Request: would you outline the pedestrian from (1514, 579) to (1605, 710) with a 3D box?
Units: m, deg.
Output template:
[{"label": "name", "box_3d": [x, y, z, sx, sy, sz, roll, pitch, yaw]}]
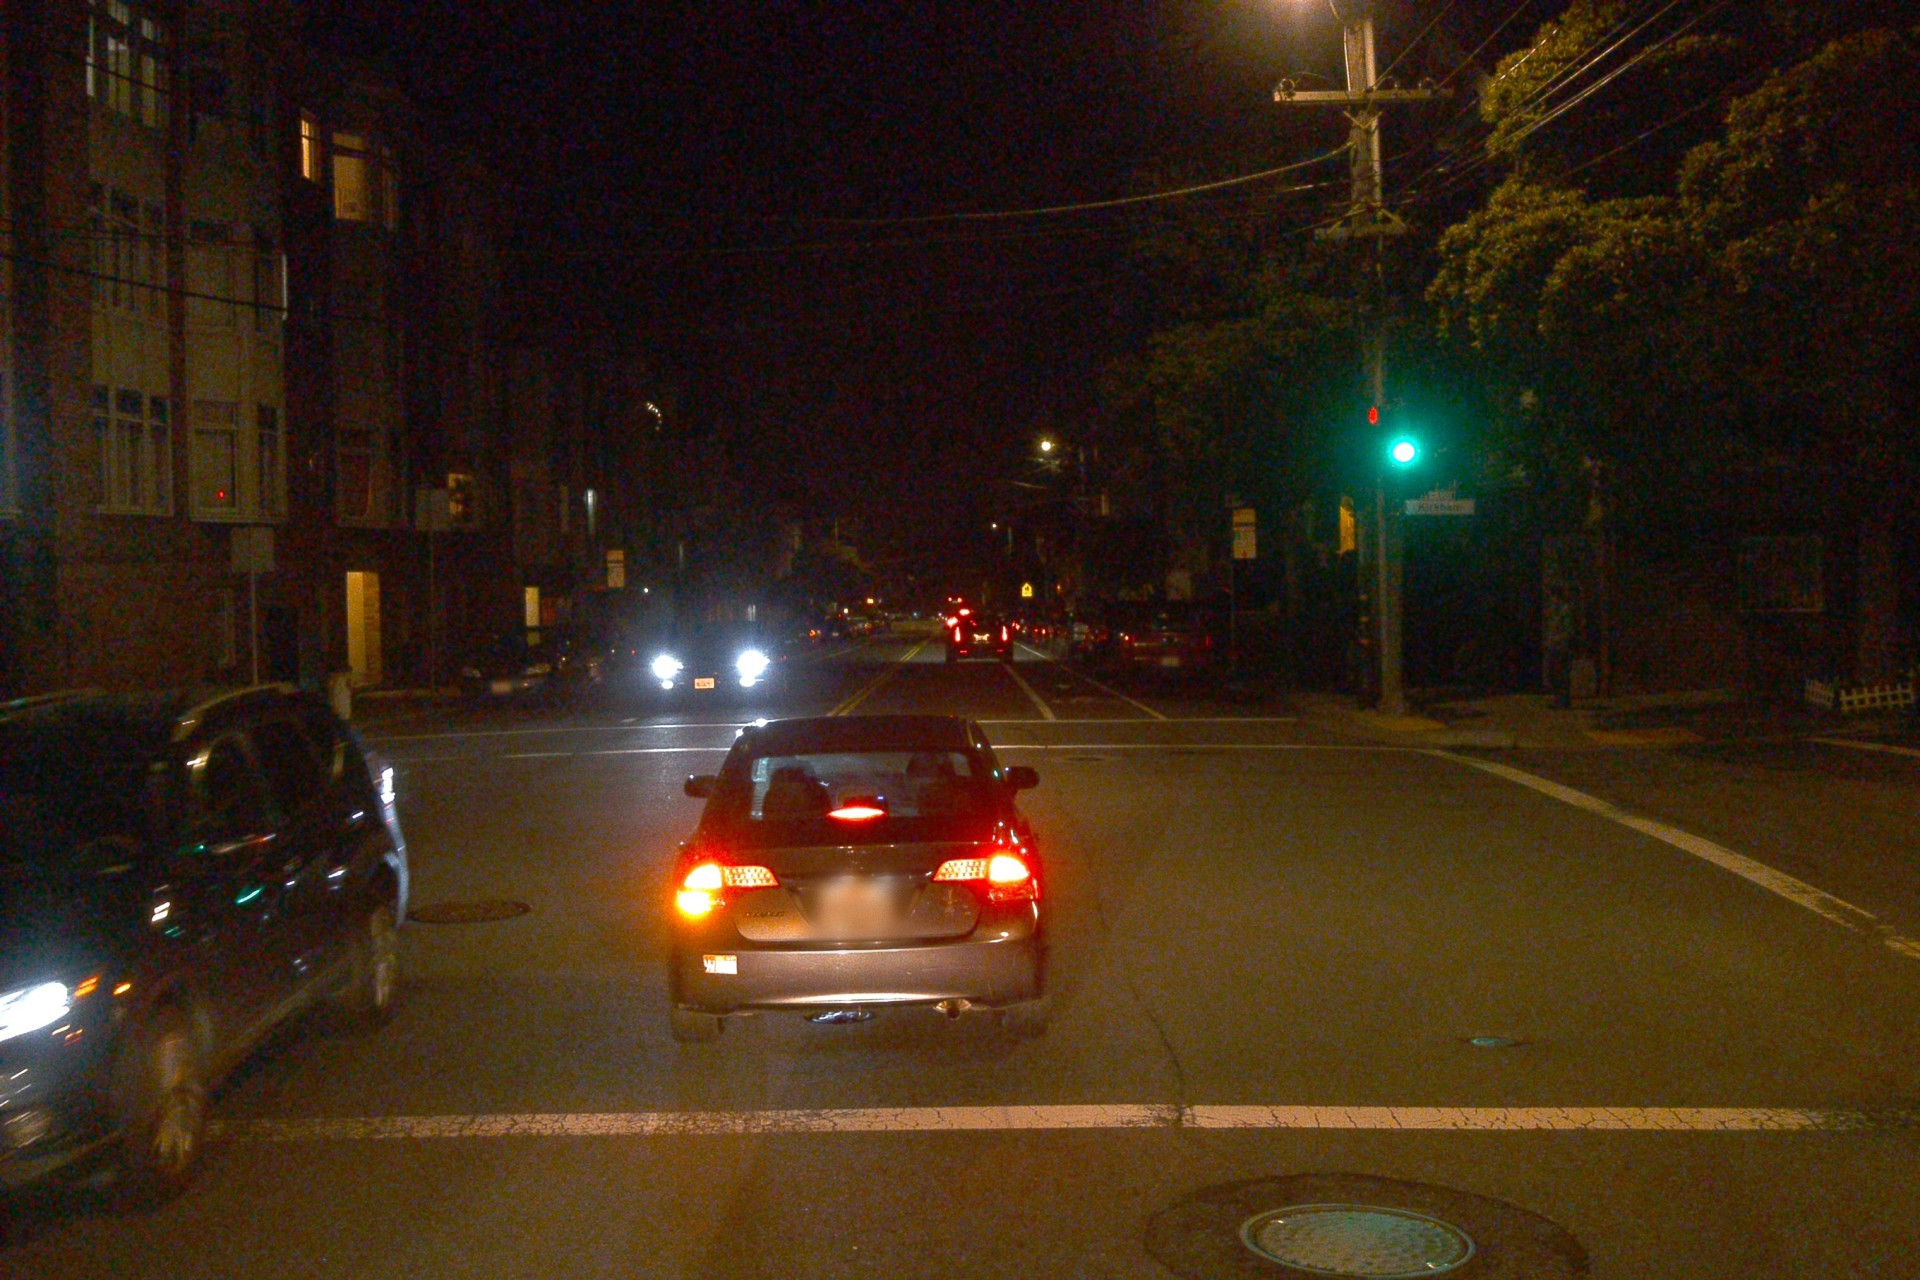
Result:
[{"label": "pedestrian", "box_3d": [7.836, 0.058, 26.727, 0.936, 1.691, 0.623, 0, 0, -15]}]

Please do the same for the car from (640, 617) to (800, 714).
[{"label": "car", "box_3d": [-4.061, 0.400, 35.311, 2.150, 1.560, 4.641, 1, 0, 1]}]

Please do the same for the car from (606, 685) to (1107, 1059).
[{"label": "car", "box_3d": [-0.495, 1.016, 10.797, 2.070, 1.420, 4.588, 0, 0, -2]}]

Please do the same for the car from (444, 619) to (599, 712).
[{"label": "car", "box_3d": [-7.902, 0.435, 37.174, 1.948, 1.580, 4.098, 1, 0, 0]}]
